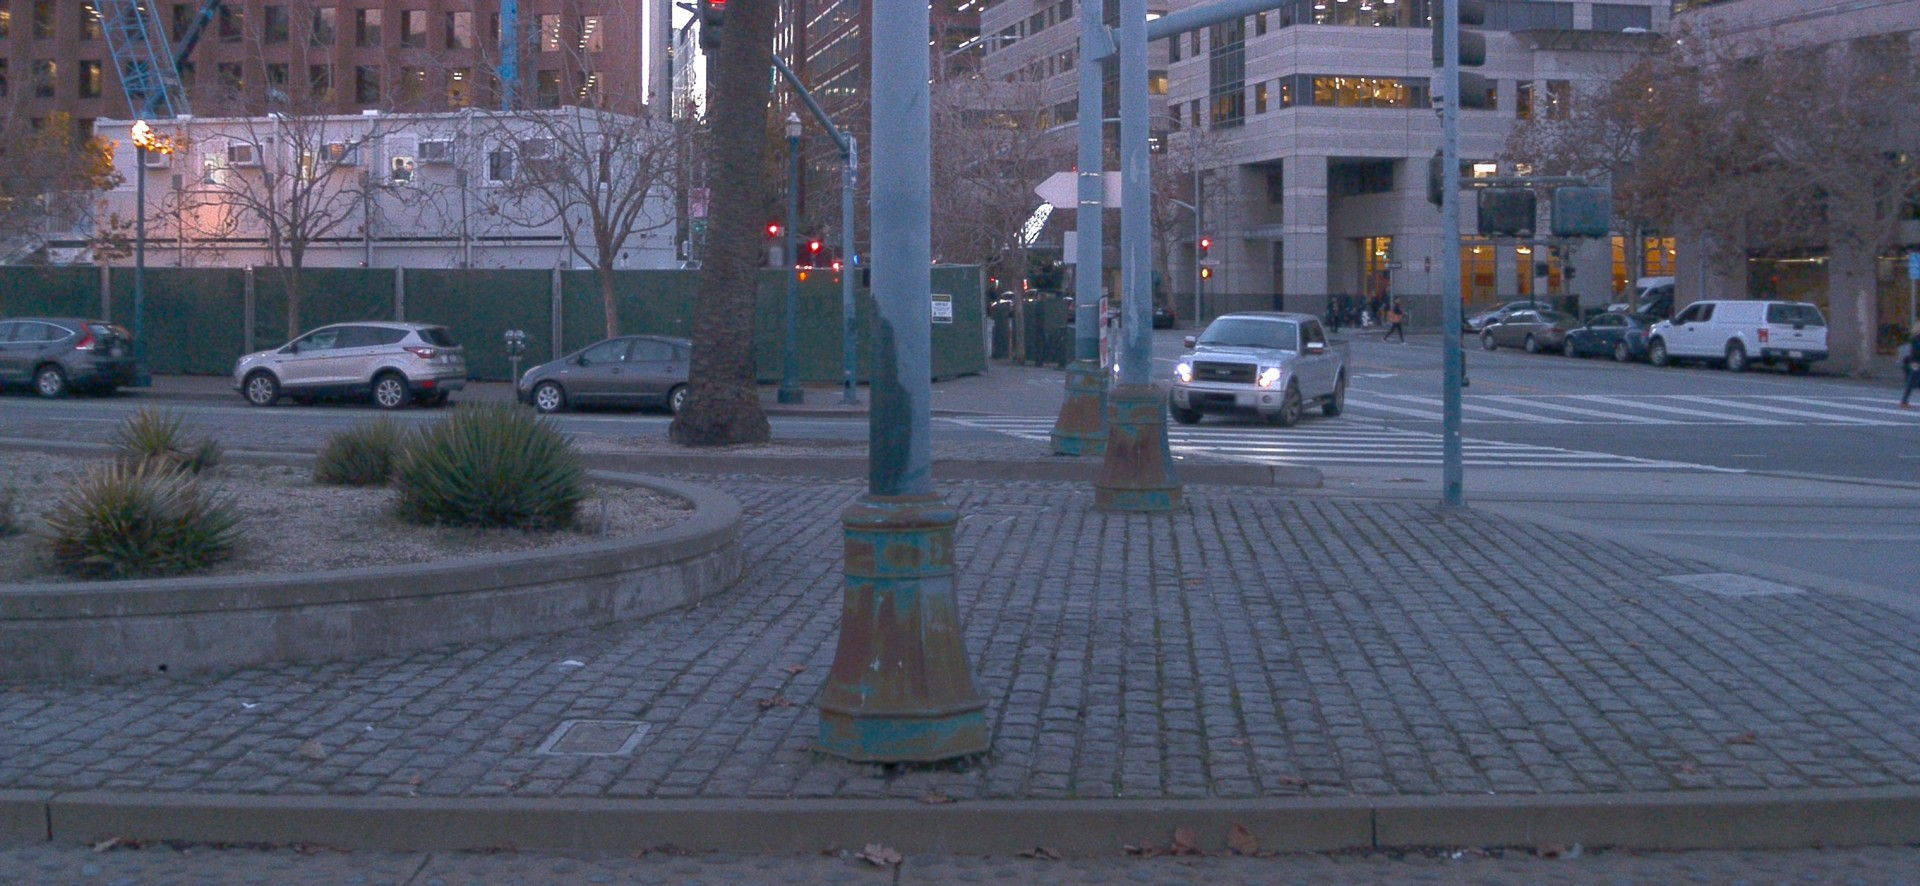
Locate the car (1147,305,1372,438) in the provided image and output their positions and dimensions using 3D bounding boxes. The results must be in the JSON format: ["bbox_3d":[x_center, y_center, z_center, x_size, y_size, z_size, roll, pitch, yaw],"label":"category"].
[{"bbox_3d":[5.449,-1.370,36.891,2.518,1.902,6.001,2,6,23],"label":"car"}]

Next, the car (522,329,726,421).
[{"bbox_3d":[-6.208,-1.289,38.464,3.390,1.486,1.558,2,4,17],"label":"car"}]
